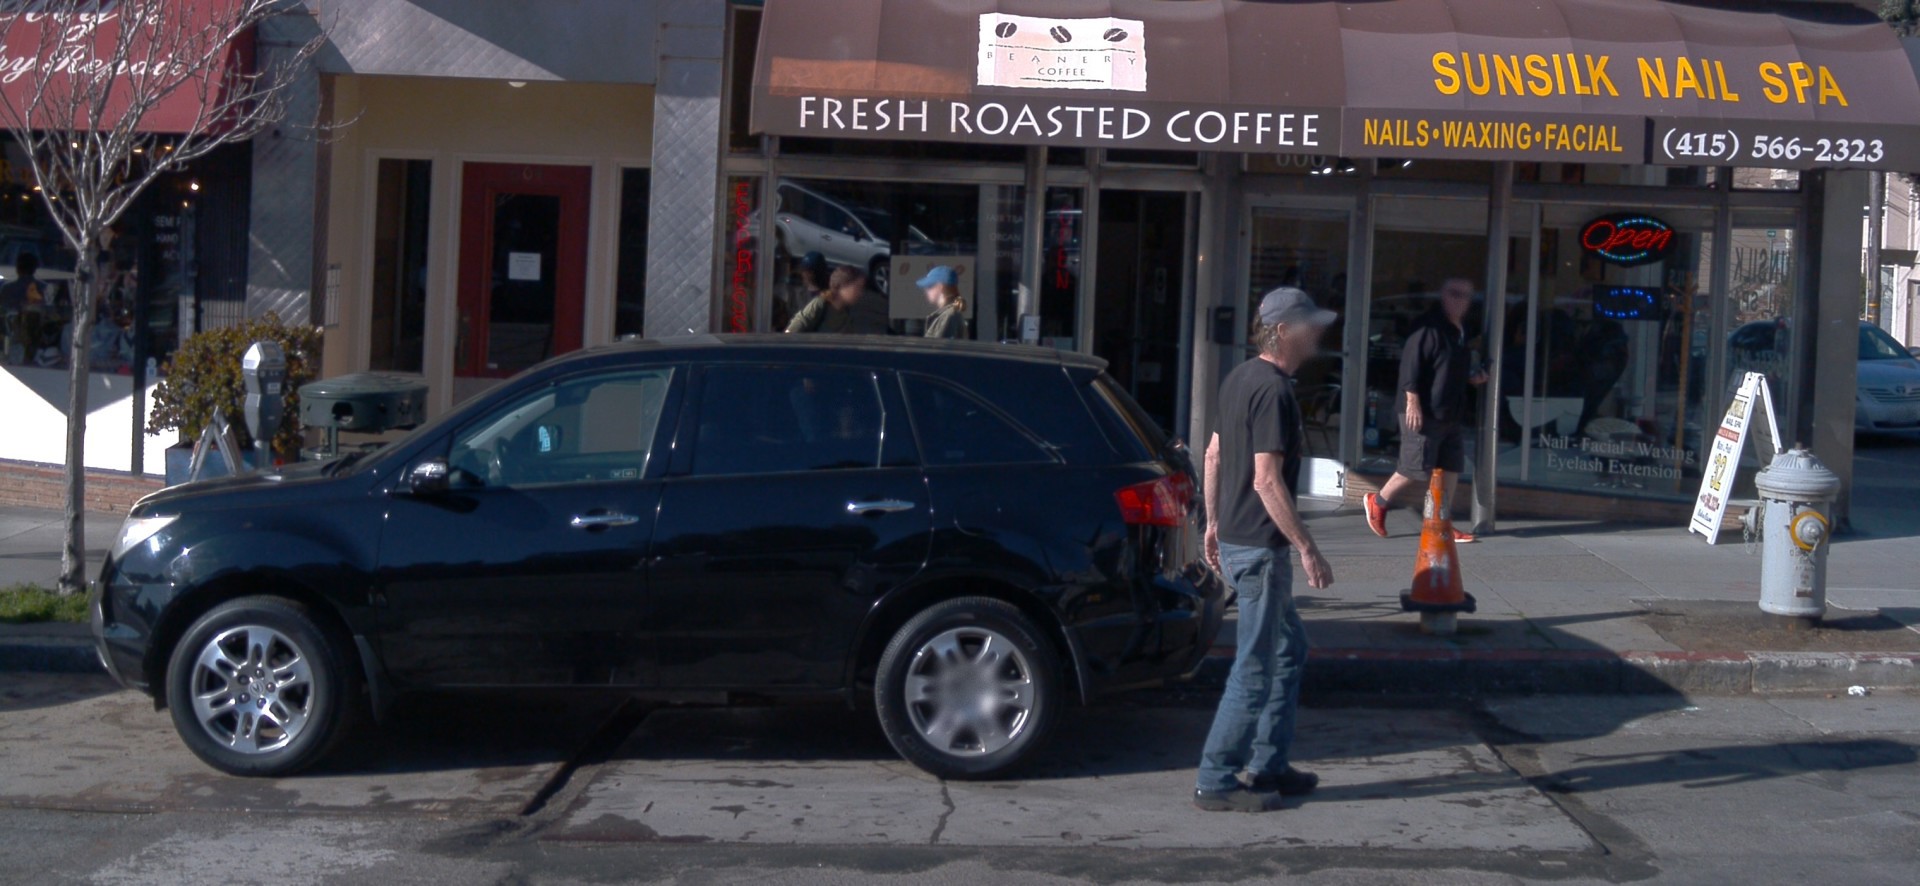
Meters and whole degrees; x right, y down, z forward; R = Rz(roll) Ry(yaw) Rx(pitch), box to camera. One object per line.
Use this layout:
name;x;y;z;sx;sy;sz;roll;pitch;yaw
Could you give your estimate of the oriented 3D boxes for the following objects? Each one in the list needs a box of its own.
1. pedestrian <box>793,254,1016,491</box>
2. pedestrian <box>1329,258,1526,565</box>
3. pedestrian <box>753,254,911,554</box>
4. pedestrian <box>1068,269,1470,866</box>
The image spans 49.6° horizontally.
pedestrian;-0.344;-0.488;13.599;1.342;1.457;0.879;1;3;4
pedestrian;3.055;-0.253;13.550;0.927;1.876;0.941;2;3;35
pedestrian;-0.835;-0.291;13.519;0.688;1.856;0.750;-1;2;-41
pedestrian;1.110;0.382;7.634;1.198;2.006;0.872;0;2;-15
